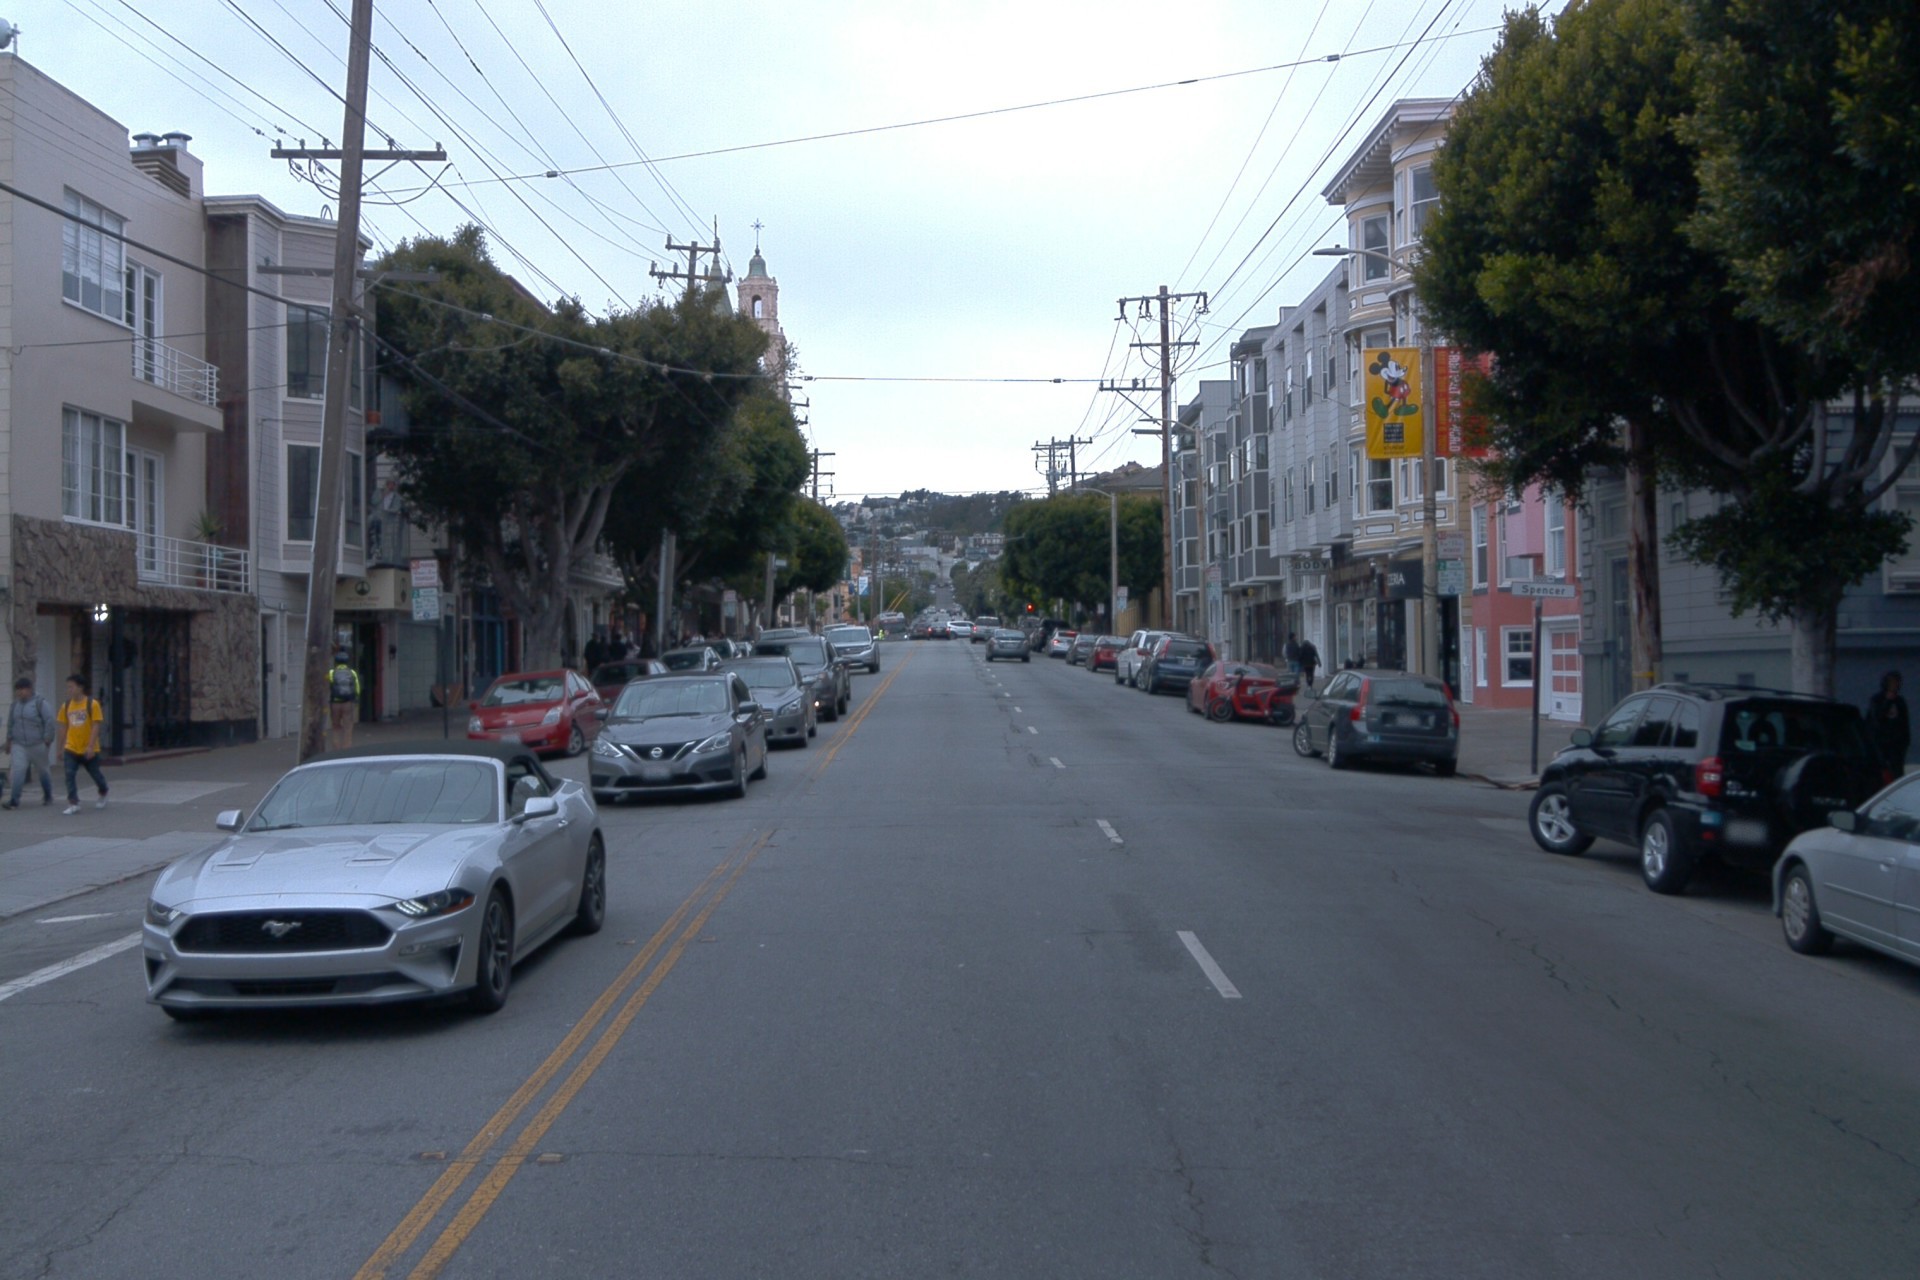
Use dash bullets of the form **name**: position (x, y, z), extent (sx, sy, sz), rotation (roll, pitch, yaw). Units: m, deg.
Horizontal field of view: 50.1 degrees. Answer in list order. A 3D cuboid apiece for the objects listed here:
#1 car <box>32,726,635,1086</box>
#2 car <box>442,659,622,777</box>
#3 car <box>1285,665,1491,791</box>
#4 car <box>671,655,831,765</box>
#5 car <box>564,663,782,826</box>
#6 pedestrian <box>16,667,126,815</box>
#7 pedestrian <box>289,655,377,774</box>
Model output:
- **car**: position (-3.405, 1.386, 12.295), extent (2.159, 1.470, 4.664), rotation (0, 1, 0)
- **car**: position (-7.176, 1.268, 34.944), extent (2.073, 1.750, 4.545), rotation (0, 1, 1)
- **car**: position (6.223, 1.237, 30.435), extent (2.070, 1.580, 4.526), rotation (0, 1, 0)
- **car**: position (-3.343, 1.091, 33.777), extent (2.085, 1.550, 4.767), rotation (0, 1, 1)
- **car**: position (-3.370, 1.177, 25.012), extent (2.004, 1.670, 4.656), rotation (0, 1, 0)
- **pedestrian**: position (-10.718, 1.202, 24.821), extent (0.825, 1.720, 1.058), rotation (0, 1, 2)
- **pedestrian**: position (-9.817, 1.151, 32.241), extent (1.124, 1.806, 1.128), rotation (0, 1, -6)
